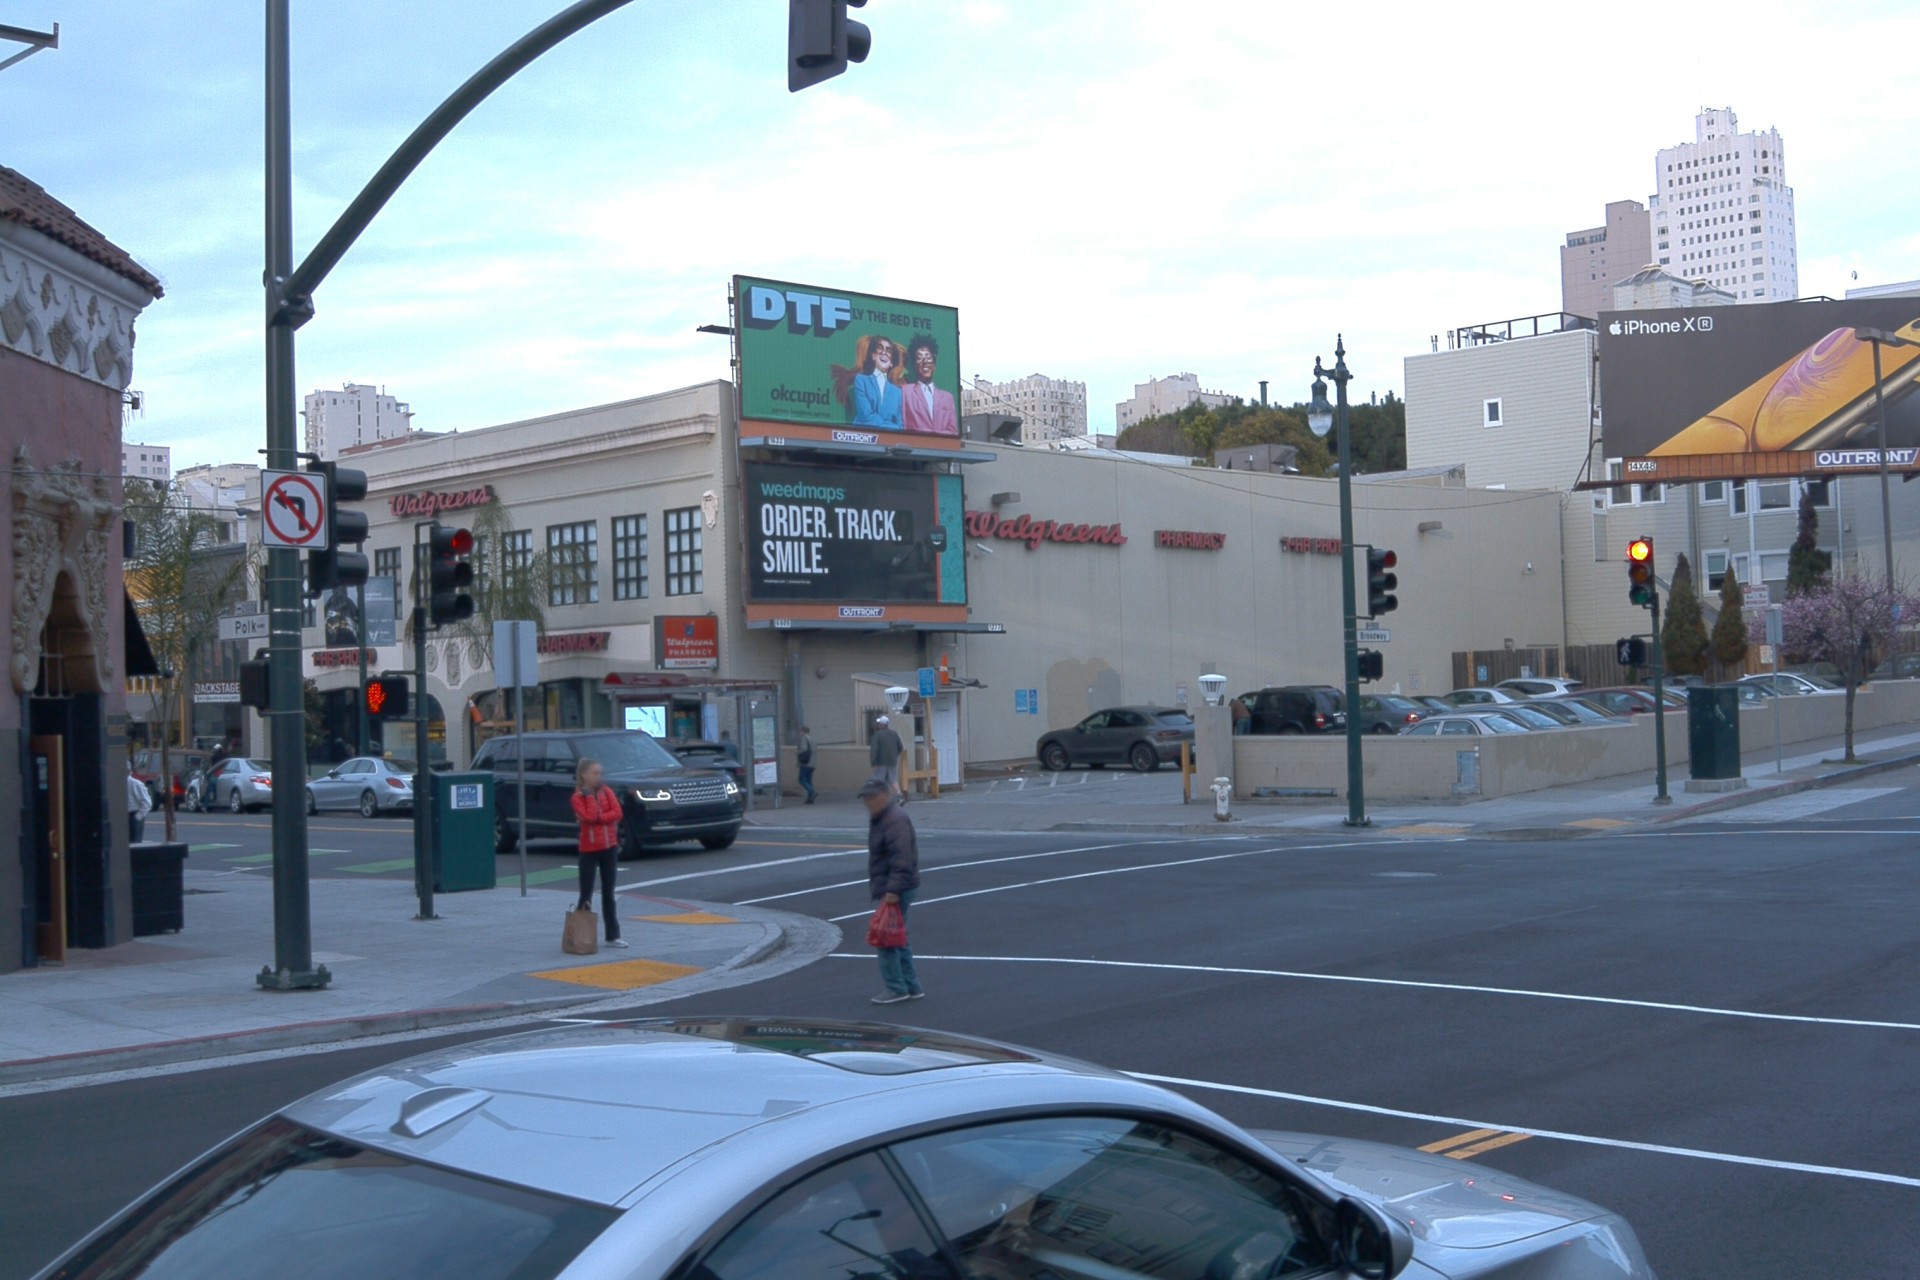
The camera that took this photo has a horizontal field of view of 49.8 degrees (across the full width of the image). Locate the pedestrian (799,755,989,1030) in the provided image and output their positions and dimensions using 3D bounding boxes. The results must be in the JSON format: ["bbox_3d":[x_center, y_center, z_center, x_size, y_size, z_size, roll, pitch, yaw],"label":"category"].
[{"bbox_3d":[-0.442,1.655,13.891,0.914,1.680,0.856,2,1,39],"label":"pedestrian"}]

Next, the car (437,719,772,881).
[{"bbox_3d":[-5.337,2.264,30.542,5.170,1.890,2.224,2,1,44],"label":"car"}]

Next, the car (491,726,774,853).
[{"bbox_3d":[-5.711,2.503,35.691,4.868,1.760,2.239,1,1,42],"label":"car"}]

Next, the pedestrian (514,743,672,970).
[{"bbox_3d":[-3.281,1.903,18.535,0.861,1.879,1.070,2,1,40],"label":"pedestrian"}]
